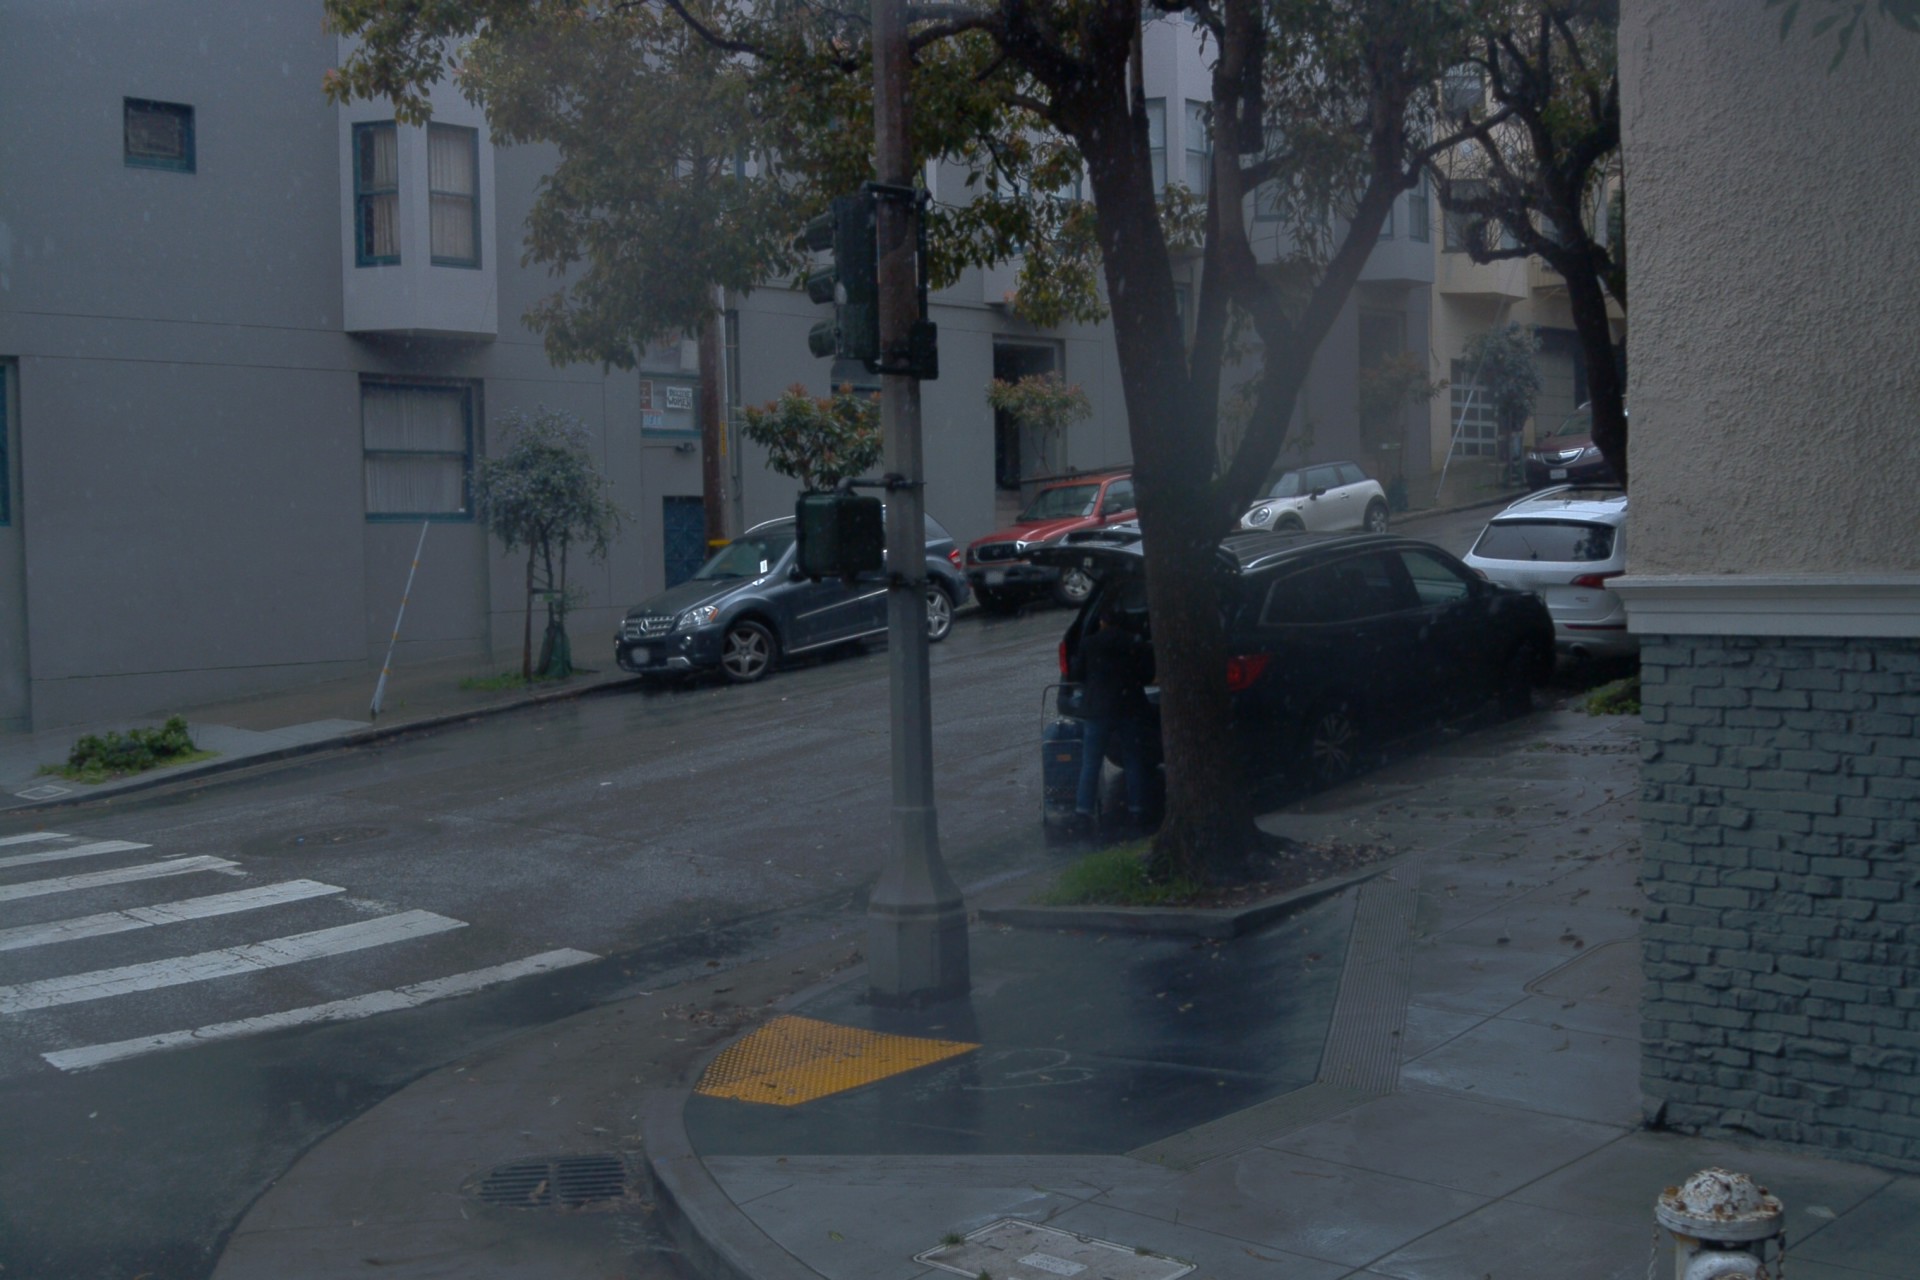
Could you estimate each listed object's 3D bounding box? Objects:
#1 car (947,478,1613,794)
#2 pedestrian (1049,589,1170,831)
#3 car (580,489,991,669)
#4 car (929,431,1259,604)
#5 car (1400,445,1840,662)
[{"bbox_3d":[2.723,-0.017,16.096,2.384,2.040,5.680,0,0,43],"label":"car"},{"bbox_3d":[1.030,0.471,14.264,0.792,1.634,0.886,0,0,2],"label":"pedestrian"},{"bbox_3d":[-2.050,-0.663,24.964,2.225,1.980,4.671,0,0,45],"label":"car"},{"bbox_3d":[1.985,-1.650,29.236,4.537,2.180,2.259,0,0,-45],"label":"car"},{"bbox_3d":[6.523,-0.727,19.878,2.355,1.840,4.675,0,0,42],"label":"car"}]
